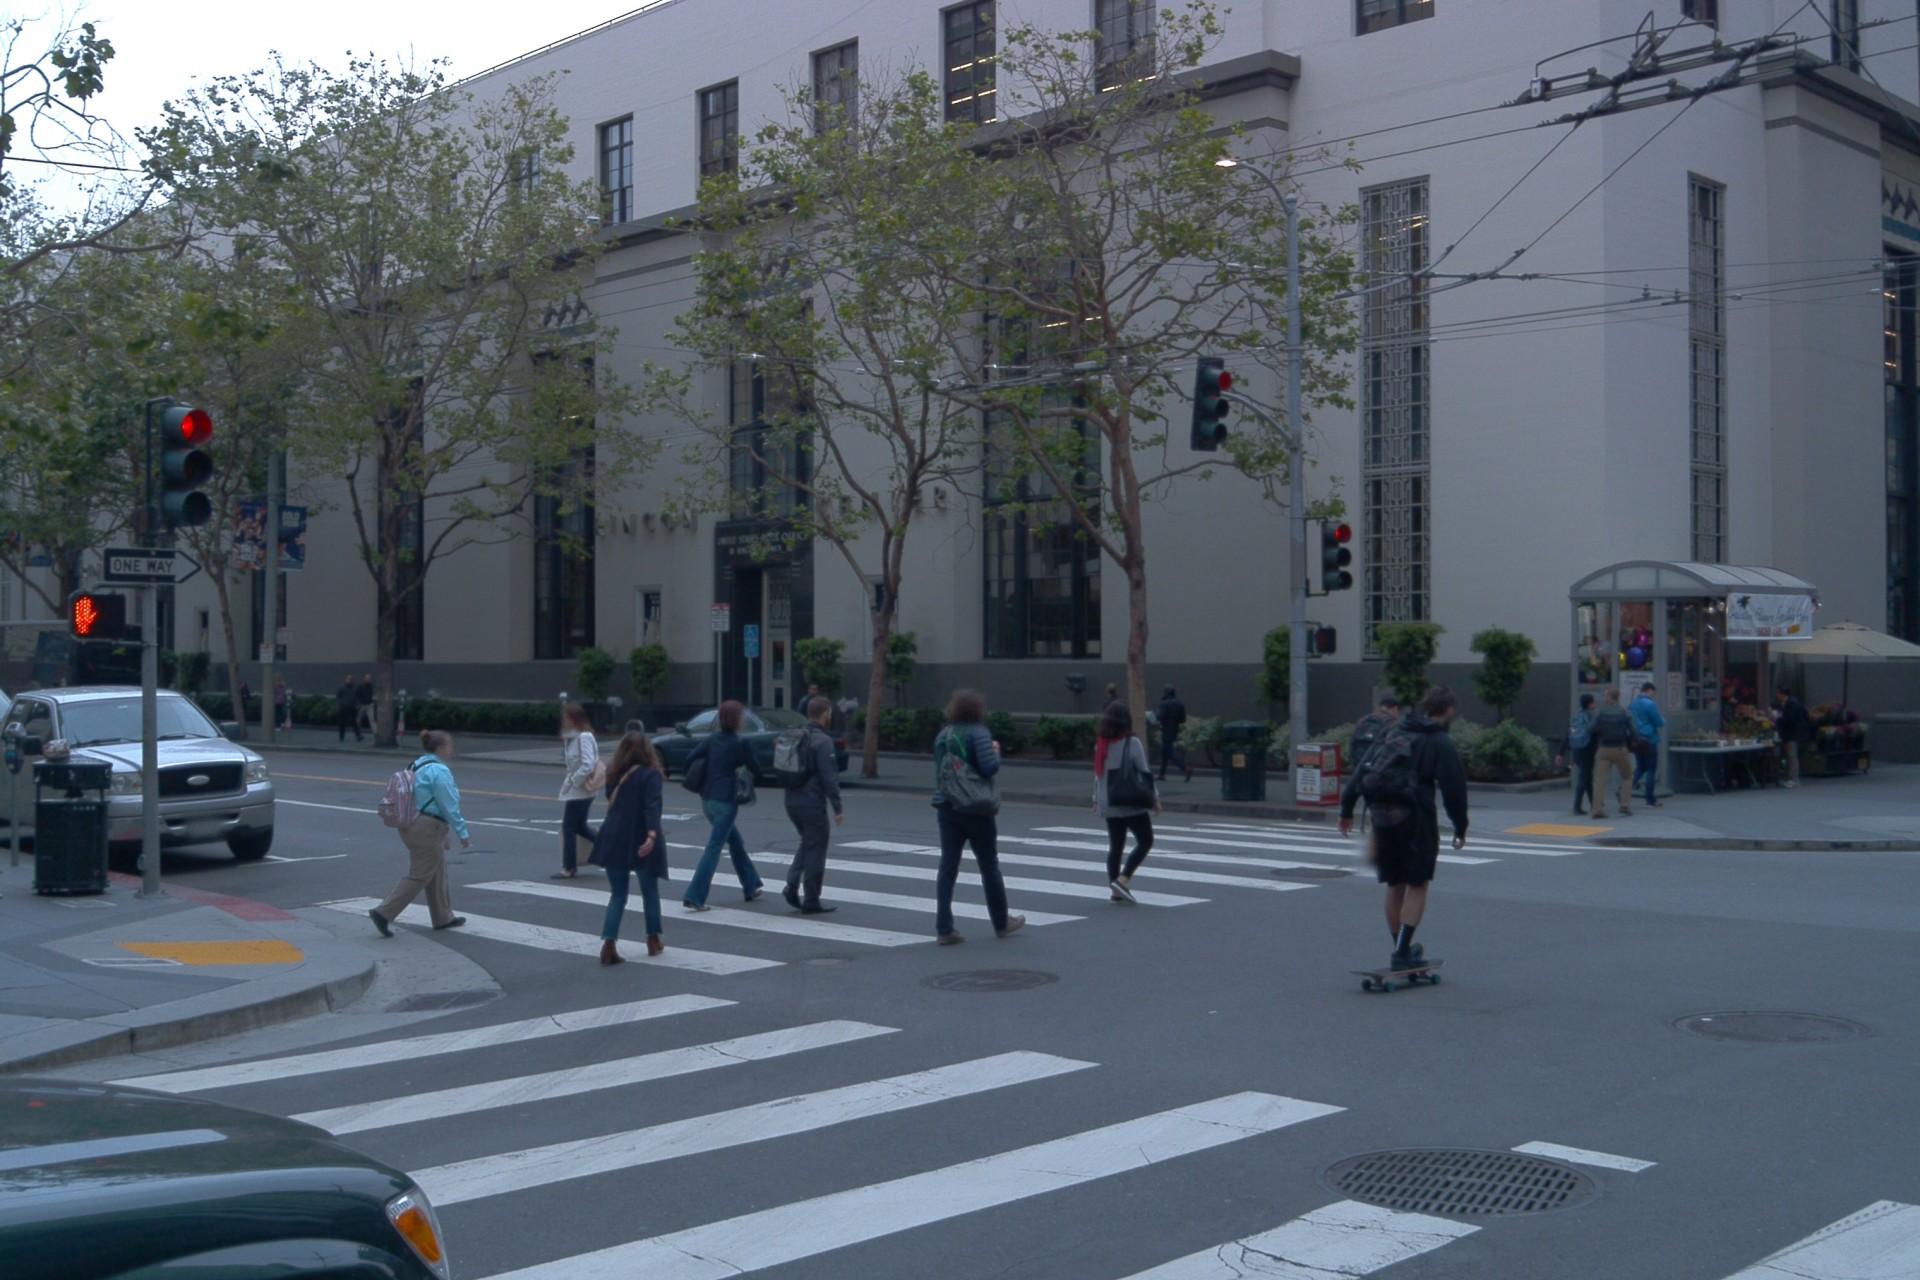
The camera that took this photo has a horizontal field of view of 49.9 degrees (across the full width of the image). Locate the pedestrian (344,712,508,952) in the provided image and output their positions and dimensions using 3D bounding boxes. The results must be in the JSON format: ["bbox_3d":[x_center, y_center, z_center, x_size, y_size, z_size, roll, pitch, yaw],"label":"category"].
[{"bbox_3d":[-4.234,1.487,16.365,1.013,1.767,0.829,-1,1,-36],"label":"pedestrian"}]

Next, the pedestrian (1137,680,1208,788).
[{"bbox_3d":[3.681,1.610,35.720,0.757,1.796,0.983,-1,1,-37],"label":"pedestrian"}]

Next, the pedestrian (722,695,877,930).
[{"bbox_3d":[-1.314,1.379,16.912,0.942,1.809,0.849,-1,1,-44],"label":"pedestrian"}]

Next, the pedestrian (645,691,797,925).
[{"bbox_3d":[-2.022,1.387,17.470,0.828,1.856,0.973,1,1,45],"label":"pedestrian"}]

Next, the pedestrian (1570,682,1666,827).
[{"bbox_3d":[8.974,1.545,28.152,1.051,1.896,0.762,-1,1,-33],"label":"pedestrian"}]

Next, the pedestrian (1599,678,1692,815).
[{"bbox_3d":[9.839,1.512,29.653,0.983,1.896,0.799,0,1,-21],"label":"pedestrian"}]

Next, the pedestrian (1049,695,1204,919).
[{"bbox_3d":[1.387,1.350,17.135,0.795,1.739,1.044,1,1,44],"label":"pedestrian"}]

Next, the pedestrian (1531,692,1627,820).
[{"bbox_3d":[8.623,1.594,28.764,0.973,1.706,0.840,0,1,-21],"label":"pedestrian"}]

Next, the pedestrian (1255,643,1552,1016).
[{"bbox_3d":[2.758,1.094,12.803,1.544,2.118,1.097,-1,1,-41],"label":"pedestrian"}]

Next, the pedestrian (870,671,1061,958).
[{"bbox_3d":[0.049,1.228,15.132,0.842,1.969,1.167,1,1,40],"label":"pedestrian"}]

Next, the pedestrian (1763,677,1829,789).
[{"bbox_3d":[13.580,1.499,33.509,0.751,1.746,0.848,1,1,42],"label":"pedestrian"}]

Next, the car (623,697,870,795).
[{"bbox_3d":[-3.952,1.868,37.620,2.016,1.480,4.678,-1,1,-44],"label":"car"}]

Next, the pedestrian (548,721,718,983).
[{"bbox_3d":[-2.311,1.472,14.671,0.883,1.741,0.891,0,1,18],"label":"pedestrian"}]

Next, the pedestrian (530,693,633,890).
[{"bbox_3d":[-3.610,1.430,19.737,0.938,1.800,0.808,0,1,-9],"label":"pedestrian"}]

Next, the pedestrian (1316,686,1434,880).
[{"bbox_3d":[4.004,1.353,19.892,0.716,1.771,0.964,1,1,43],"label":"pedestrian"}]
